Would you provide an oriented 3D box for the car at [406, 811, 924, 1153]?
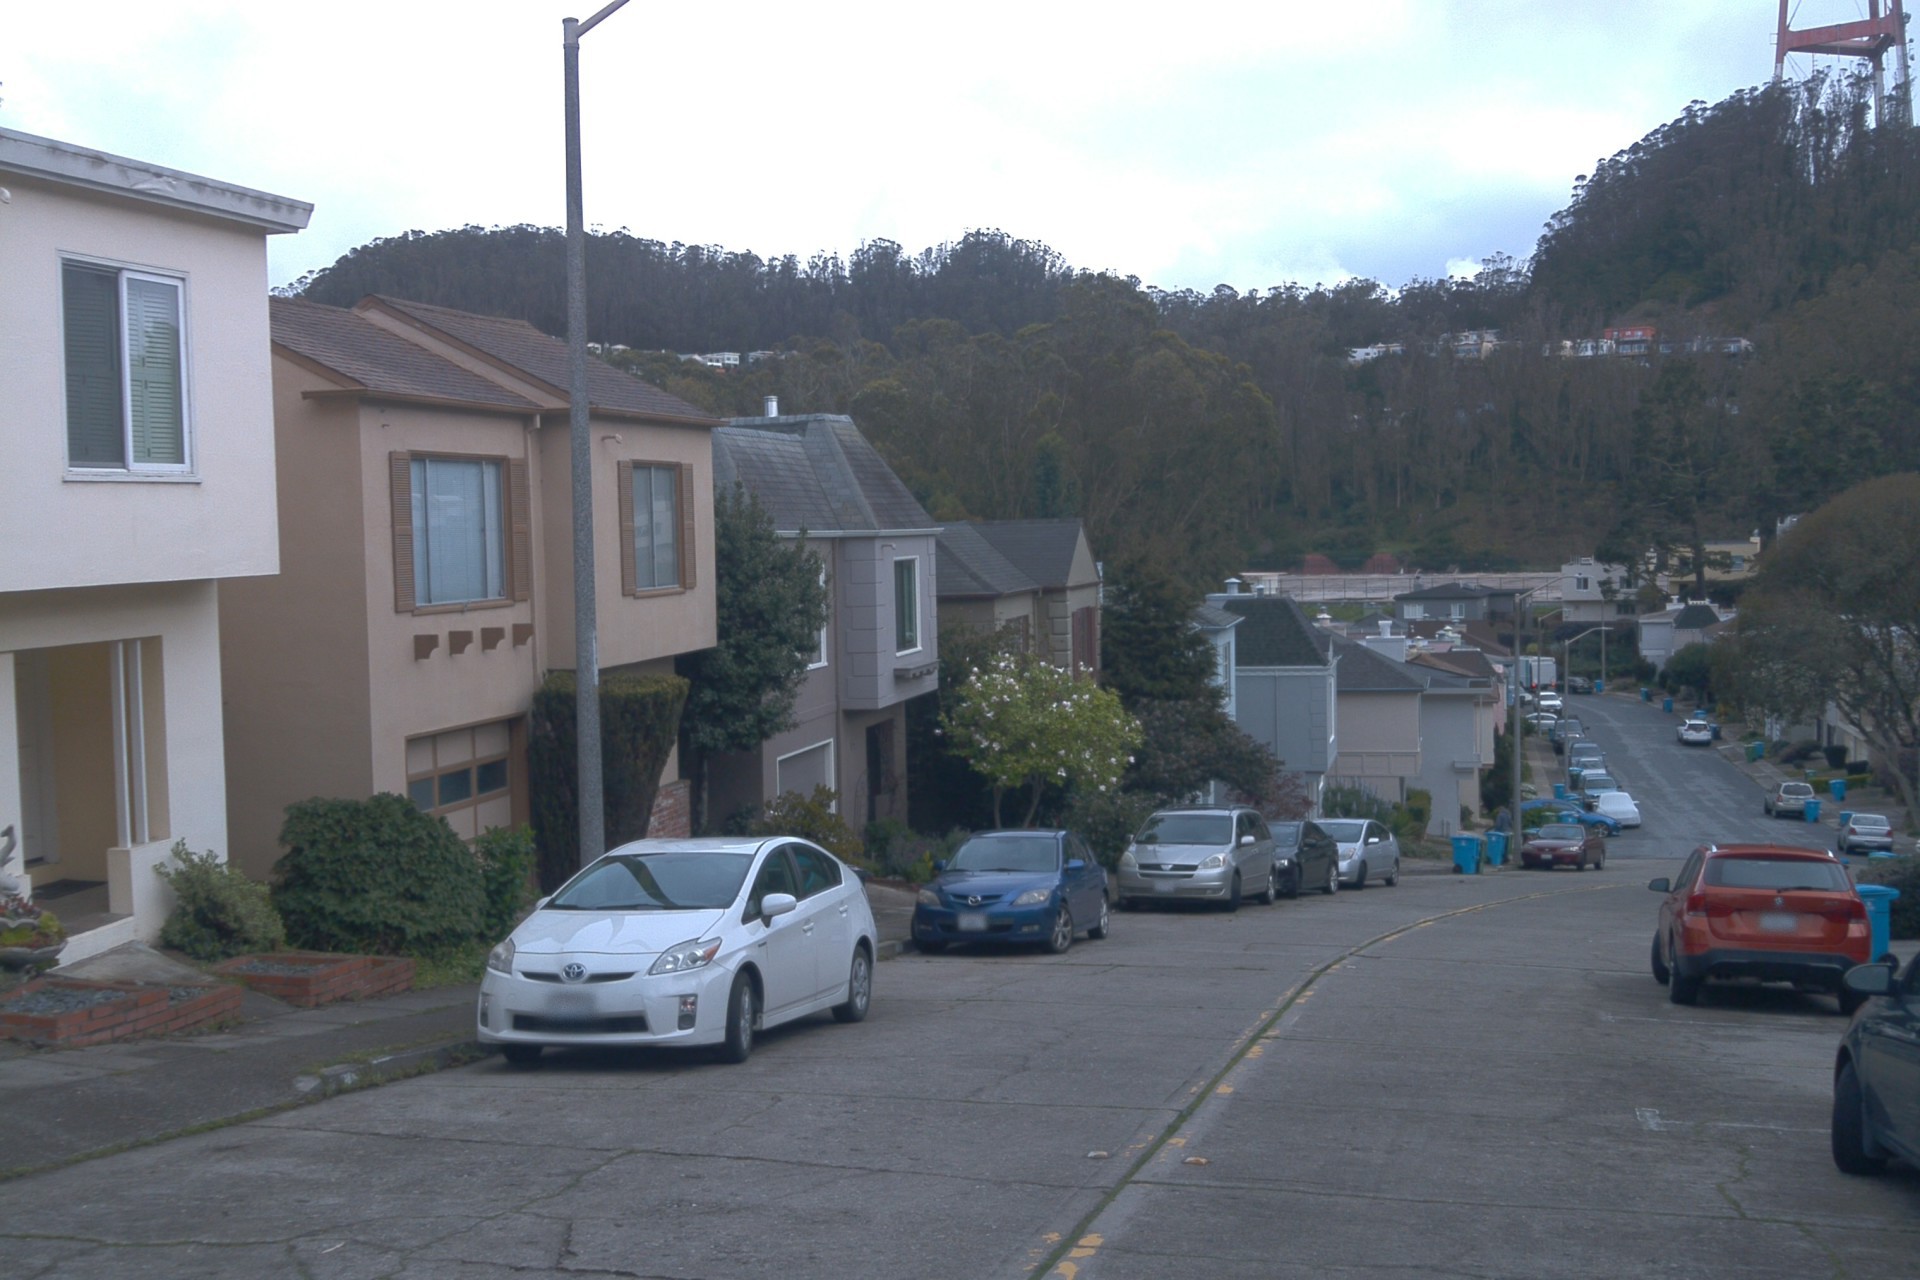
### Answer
[{"bbox_3d":[-1.915,2.295,15.158,2.148,1.700,4.602,0,0,14],"label":"car"}]

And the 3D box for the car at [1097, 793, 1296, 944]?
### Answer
[{"bbox_3d":[4.124,3.784,35.270,2.348,1.990,5.076,0,0,19],"label":"car"}]

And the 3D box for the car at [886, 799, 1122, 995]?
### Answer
[{"bbox_3d":[0.656,3.068,25.636,2.026,1.850,4.434,0,0,13],"label":"car"}]
